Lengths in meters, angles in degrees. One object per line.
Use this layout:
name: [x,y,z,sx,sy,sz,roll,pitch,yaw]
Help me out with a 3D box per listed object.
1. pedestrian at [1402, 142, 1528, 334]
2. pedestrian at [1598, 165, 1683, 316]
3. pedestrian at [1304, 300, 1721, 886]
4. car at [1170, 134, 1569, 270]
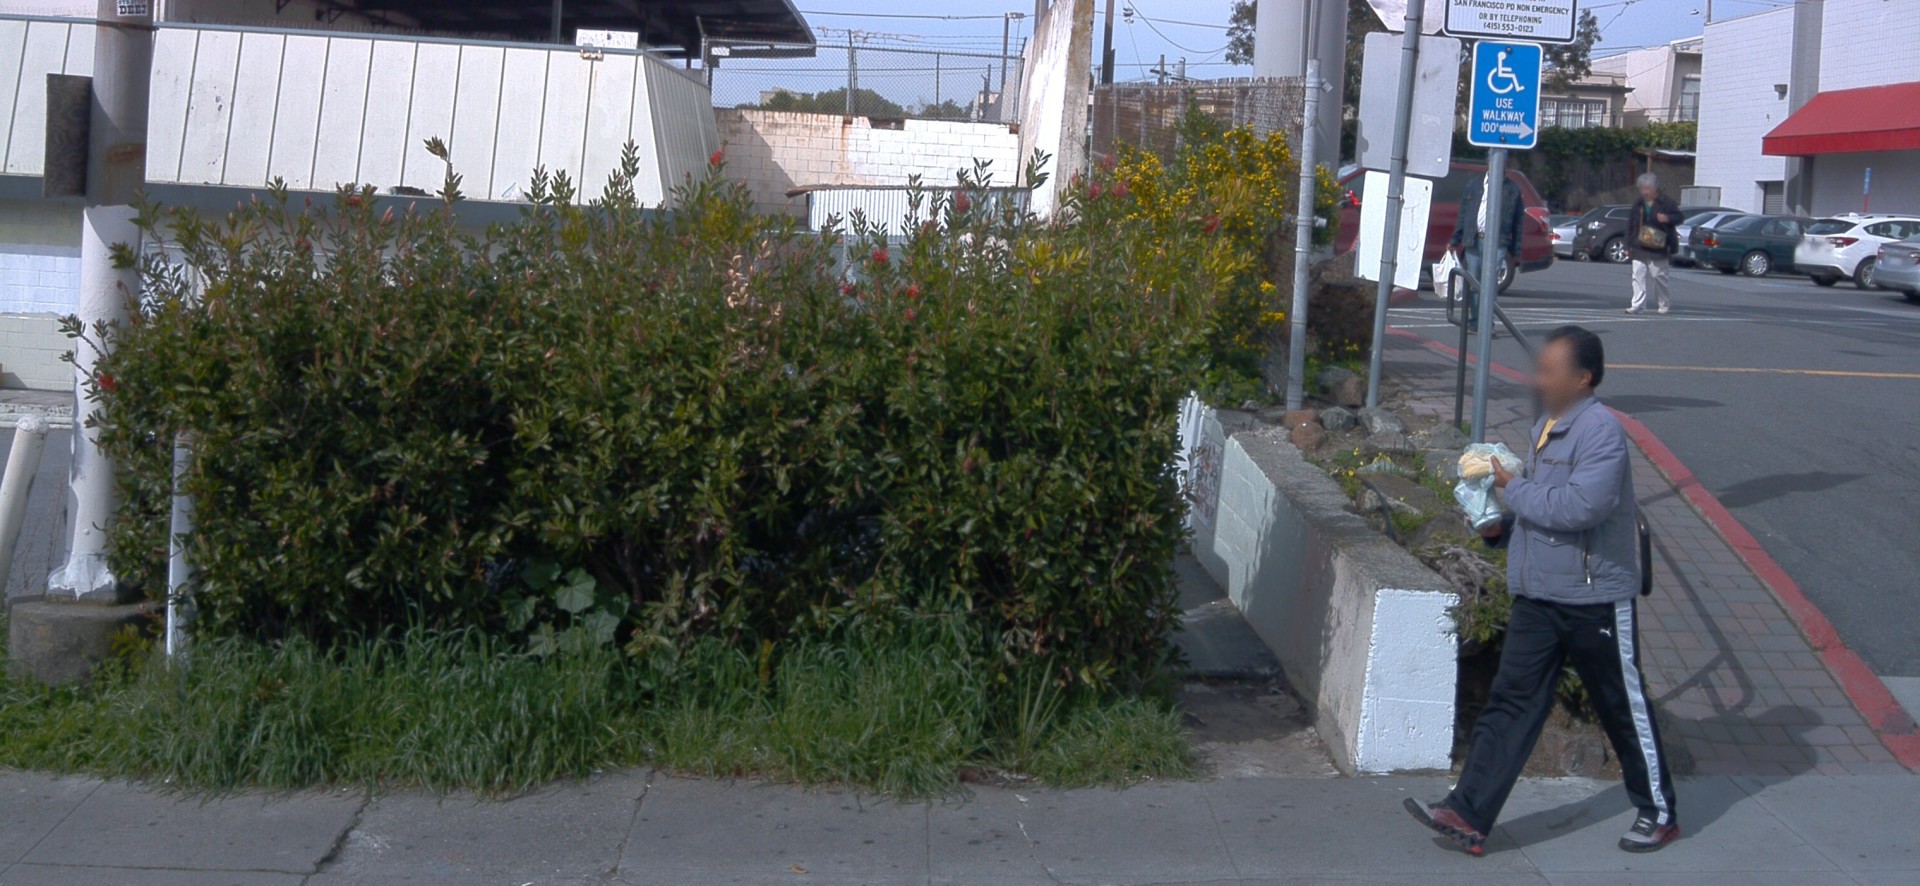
pedestrian: [4.558,-1.844,18.597,1.009,1.670,0.952,1,2,20]
pedestrian: [7.791,-2.316,23.618,0.869,1.685,0.833,0,1,23]
pedestrian: [1.779,0.436,6.592,0.943,1.743,1.078,1,2,38]
car: [5.306,-3.159,27.218,4.792,1.717,2.140,0,3,-3]
